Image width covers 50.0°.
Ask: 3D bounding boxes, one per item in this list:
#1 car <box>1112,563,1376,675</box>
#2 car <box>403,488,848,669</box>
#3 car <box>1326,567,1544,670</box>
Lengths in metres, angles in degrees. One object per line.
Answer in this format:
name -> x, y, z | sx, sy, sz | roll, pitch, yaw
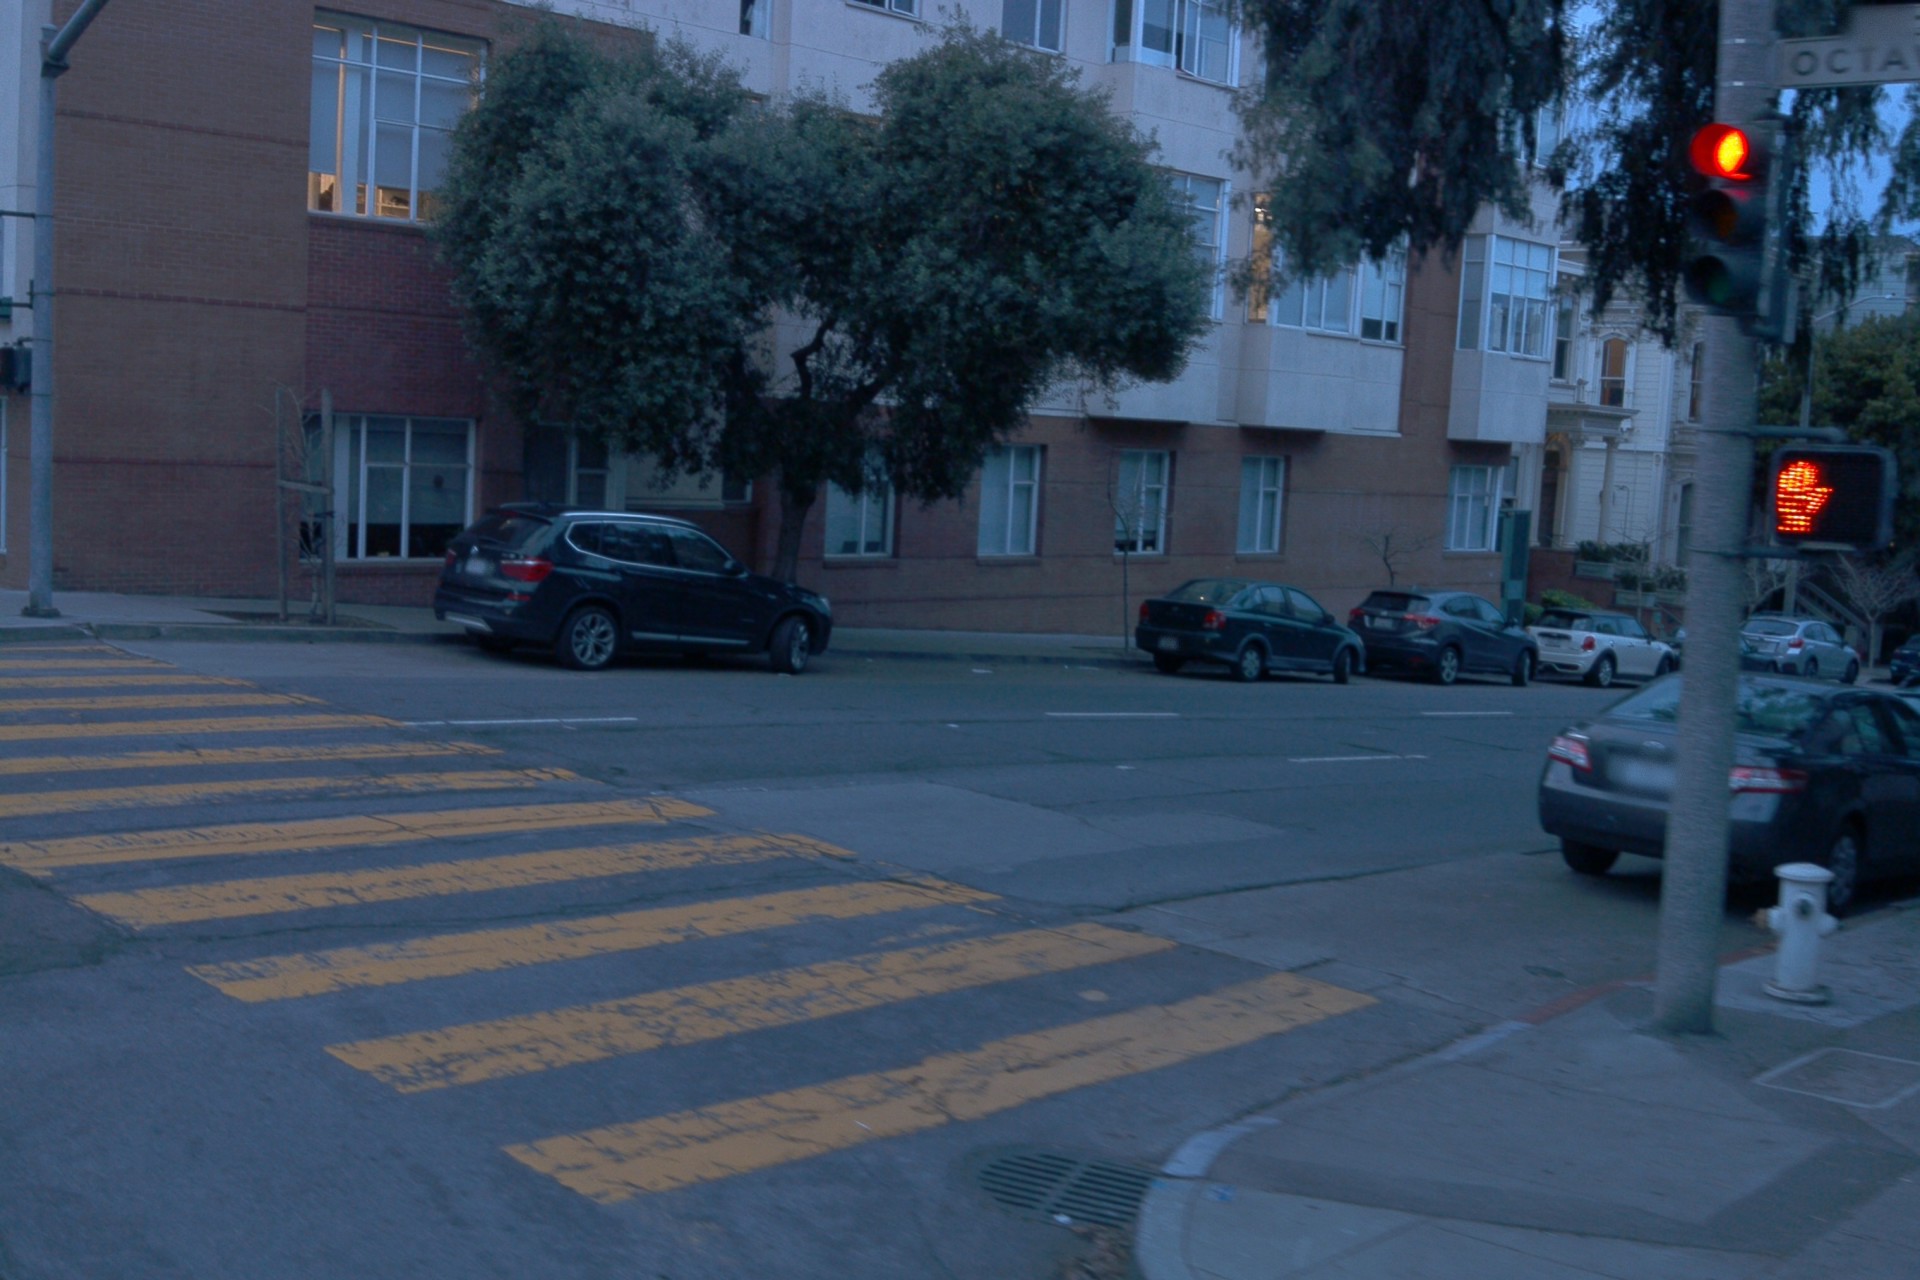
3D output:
car -> 4.297, -0.303, 30.765 | 3.956, 1.560, 1.886 | 0, 1, -45
car -> -3.574, -0.622, 22.600 | 2.050, 1.780, 4.500 | 1, 1, 43
car -> 8.096, -0.358, 34.902 | 1.839, 1.650, 3.967 | 1, 1, 43
